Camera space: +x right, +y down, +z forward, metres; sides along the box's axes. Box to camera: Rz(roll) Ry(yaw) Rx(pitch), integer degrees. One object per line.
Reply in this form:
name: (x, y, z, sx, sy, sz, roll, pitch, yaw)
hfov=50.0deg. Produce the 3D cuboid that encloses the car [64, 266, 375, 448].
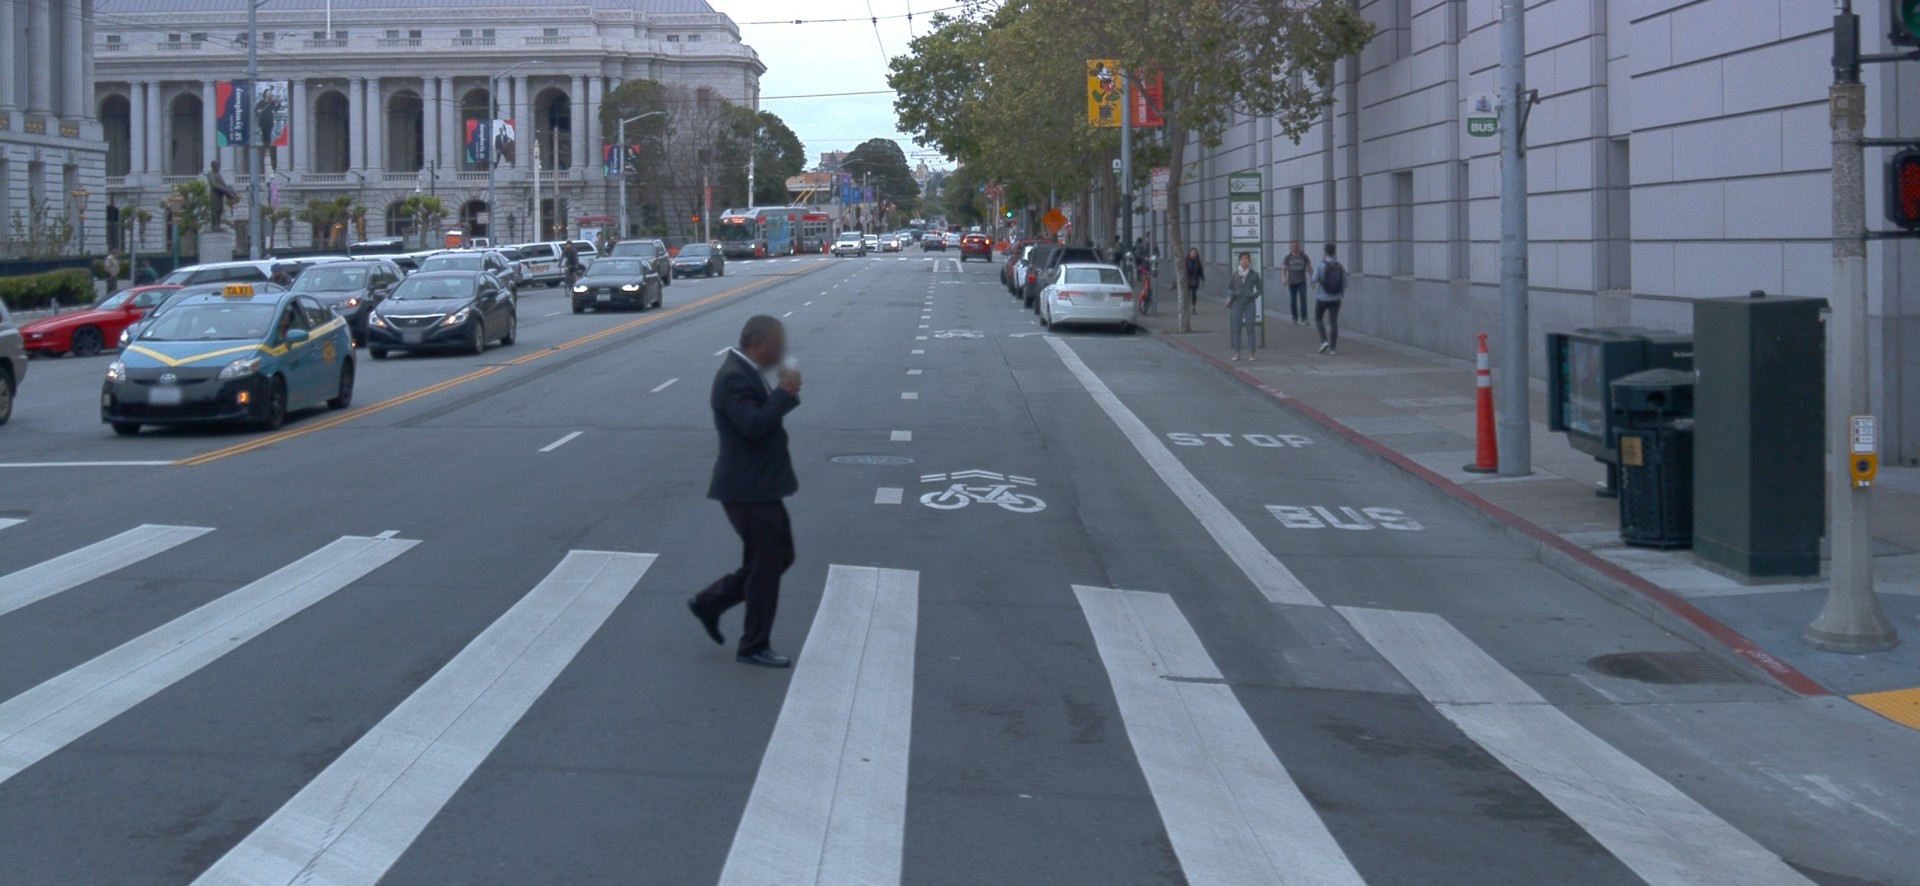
car: (-8.245, -1.070, 23.380, 2.026, 1.779, 4.380, 0, 5, -1)

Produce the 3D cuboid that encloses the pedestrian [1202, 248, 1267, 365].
pedestrian: (4.306, -2.151, 32.238, 0.850, 1.788, 0.790, 1, 2, 19)

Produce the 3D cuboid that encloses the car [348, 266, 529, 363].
car: (-9.105, -2.319, 36.300, 2.049, 1.505, 4.592, 0, 6, 0)

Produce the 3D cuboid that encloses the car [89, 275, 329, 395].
car: (-11.678, -1.773, 32.383, 2.127, 1.619, 4.847, 0, 6, -2)

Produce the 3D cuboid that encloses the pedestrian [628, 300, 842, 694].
pedestrian: (-1.097, 0.229, 10.217, 0.951, 1.847, 0.813, 0, 2, 1)

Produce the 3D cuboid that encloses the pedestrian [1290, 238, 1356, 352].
pedestrian: (5.842, -2.399, 33.162, 0.875, 1.808, 1.129, 0, 2, 0)
